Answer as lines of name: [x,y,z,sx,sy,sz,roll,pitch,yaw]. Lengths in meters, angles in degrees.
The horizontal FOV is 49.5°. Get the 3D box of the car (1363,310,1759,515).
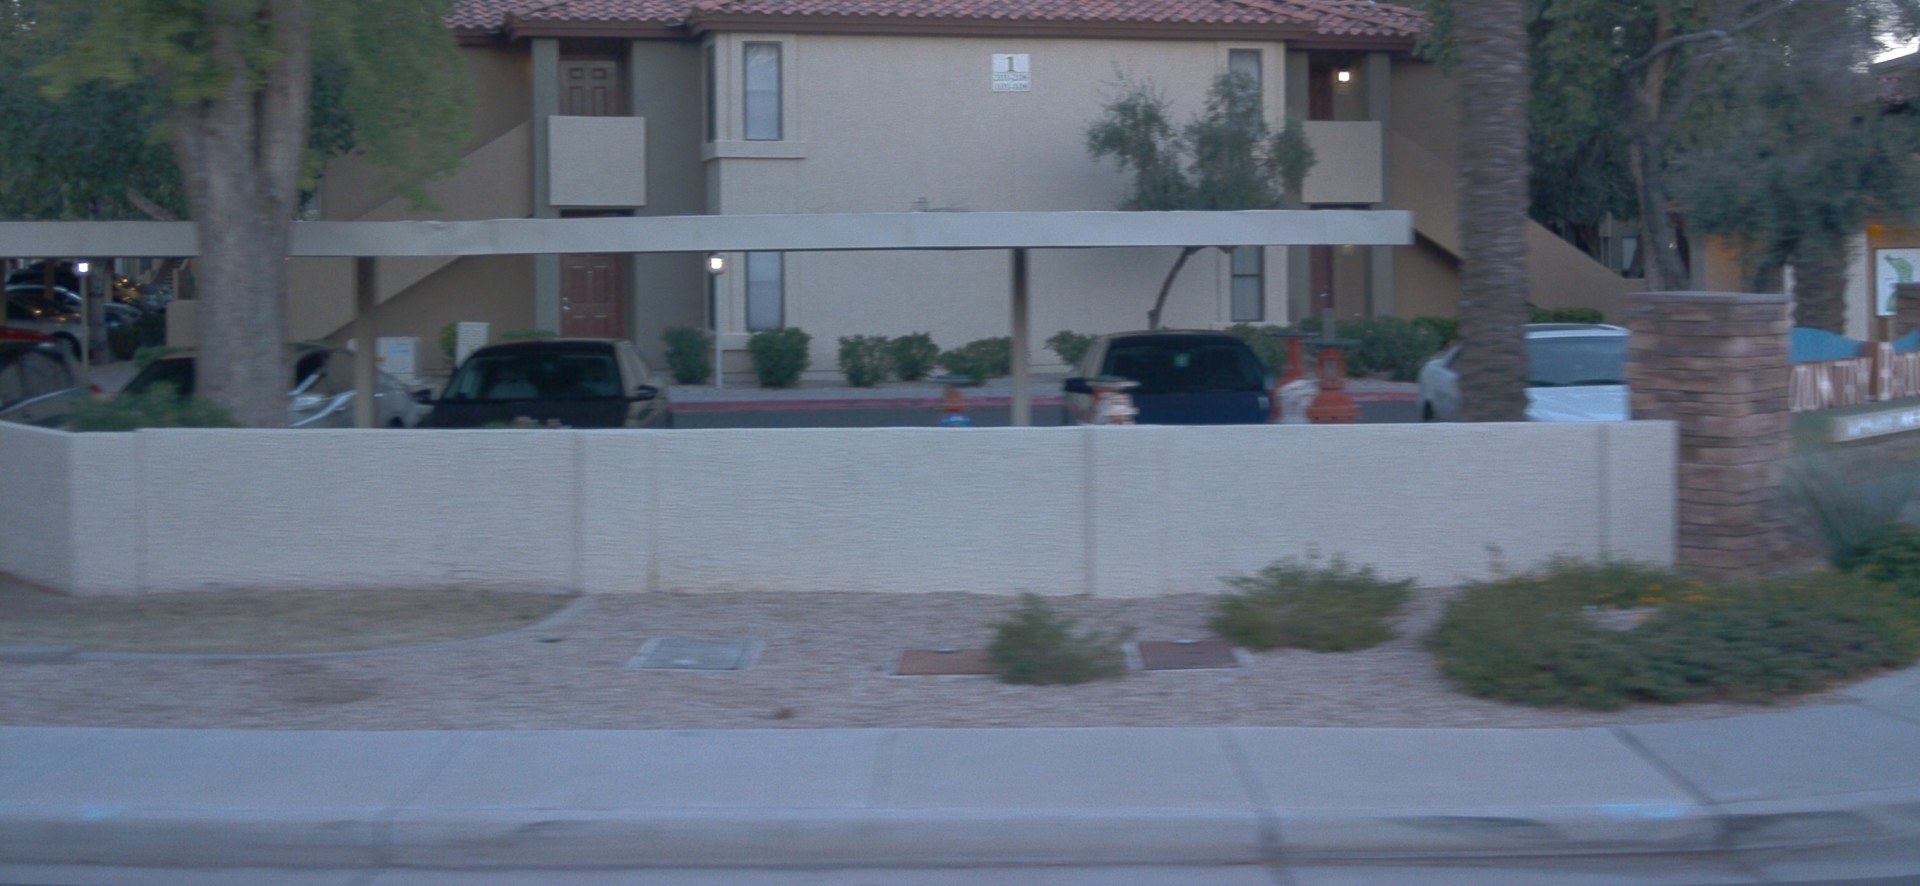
car: [5.097,-0.387,18.440,2.059,1.343,4.790,0,6,-1]

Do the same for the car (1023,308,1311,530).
car: [1.701,-0.350,18.866,2.157,1.502,4.997,0,6,1]

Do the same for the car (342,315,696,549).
car: [-3.749,-0.241,18.713,2.158,1.562,4.997,0,6,-1]
